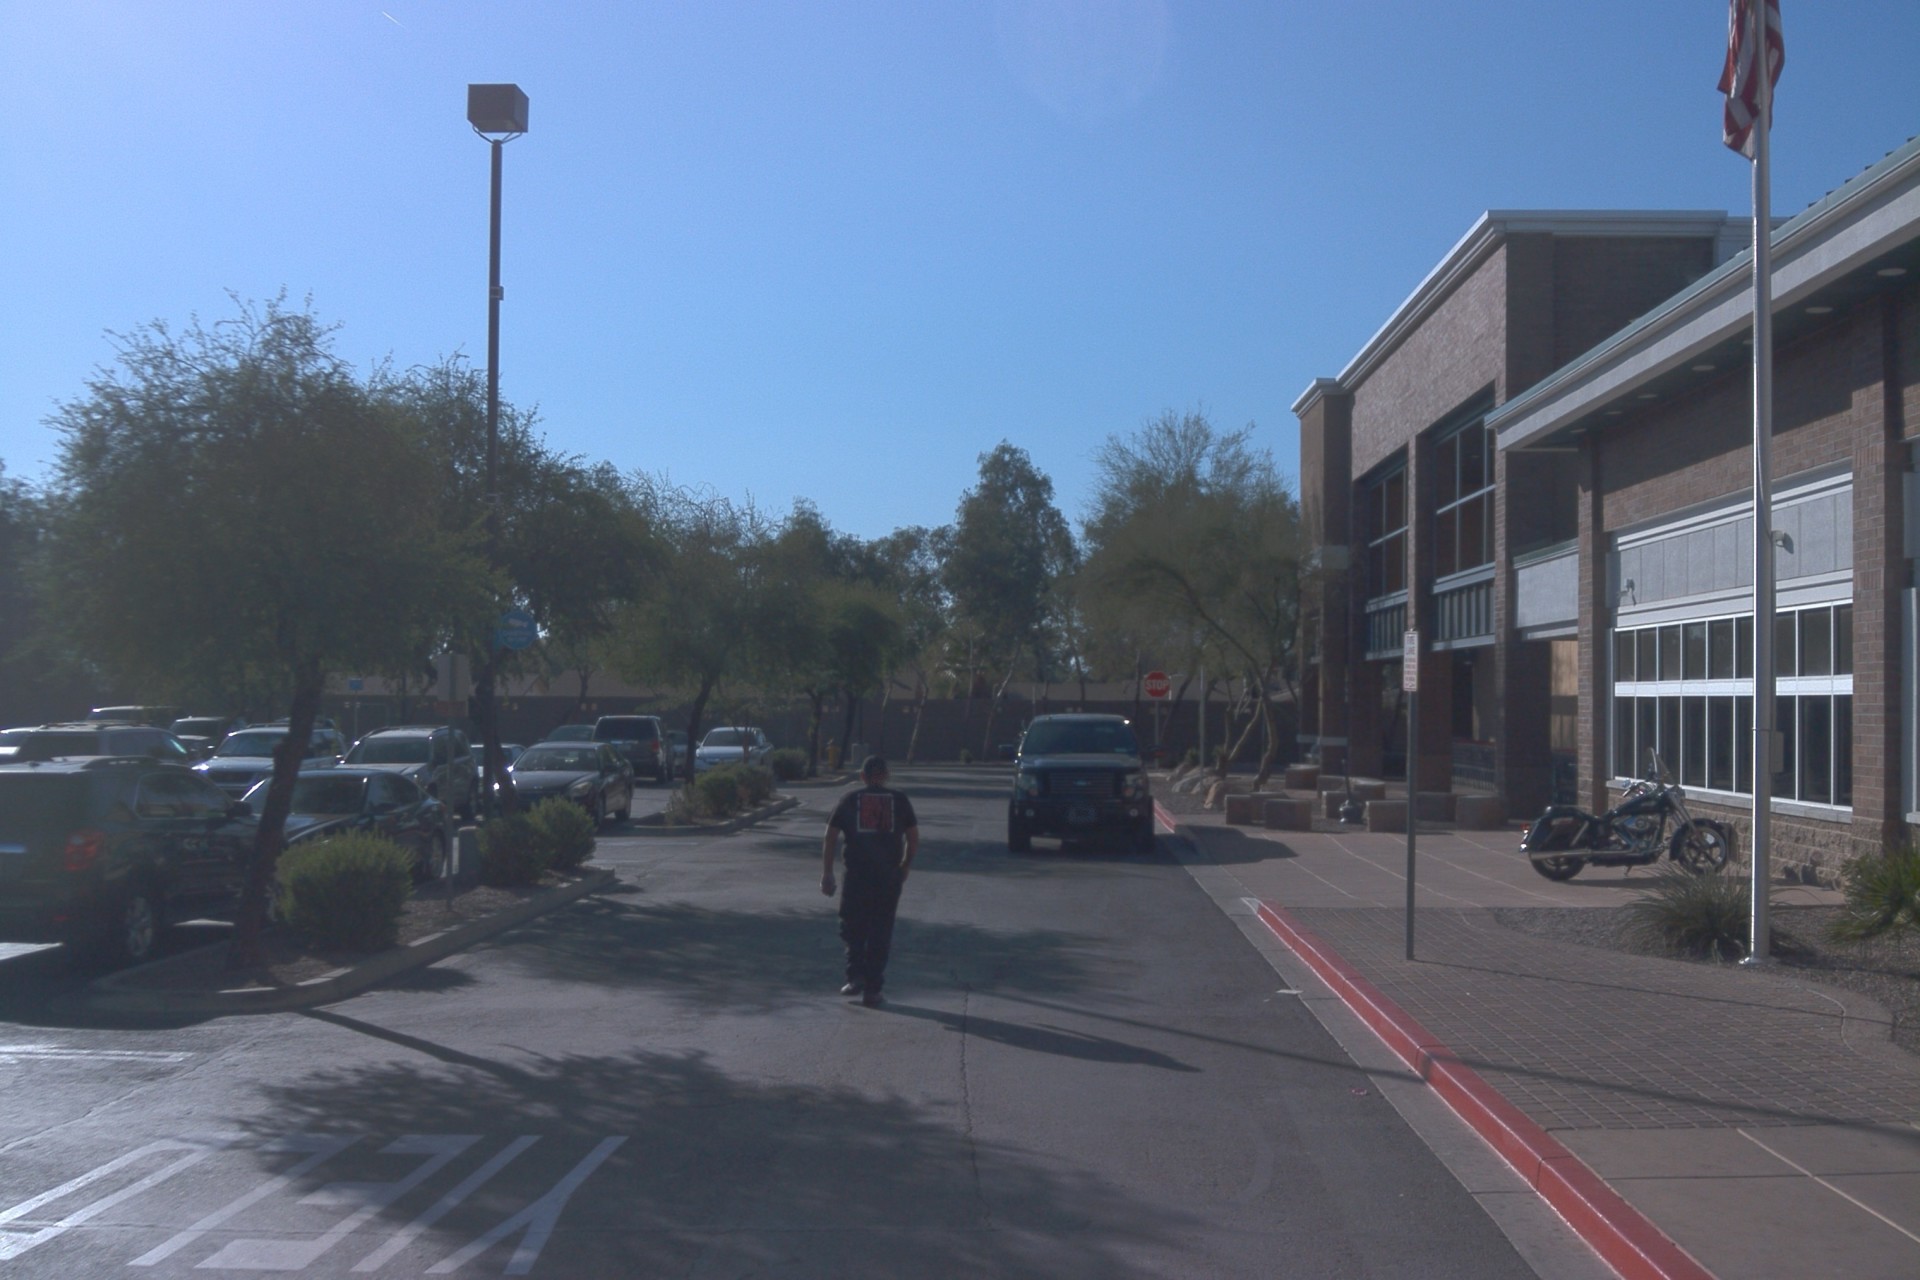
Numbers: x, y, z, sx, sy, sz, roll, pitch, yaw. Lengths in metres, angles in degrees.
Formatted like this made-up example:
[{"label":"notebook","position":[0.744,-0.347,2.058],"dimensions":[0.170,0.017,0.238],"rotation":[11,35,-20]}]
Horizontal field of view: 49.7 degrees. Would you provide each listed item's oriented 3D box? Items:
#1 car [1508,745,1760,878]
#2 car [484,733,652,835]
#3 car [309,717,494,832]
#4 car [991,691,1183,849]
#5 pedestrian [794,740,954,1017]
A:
[{"label":"car","position":[7.577,1.928,23.449],"dimensions":[2.509,1.430,1.043],"rotation":[-1,-1,5]},{"label":"car","position":[-6.800,2.474,36.483],"dimensions":[1.931,1.560,4.779],"rotation":[-1,-1,2]},{"label":"car","position":[-9.730,2.313,36.521],"dimensions":[1.886,1.820,4.571],"rotation":[-1,-1,2]},{"label":"car","position":[1.876,1.886,31.789],"dimensions":[2.655,2.190,5.664],"rotation":[-1,-1,2]},{"label":"pedestrian","position":[-0.637,1.672,14.928],"dimensions":[1.075,1.870,1.184],"rotation":[0,-1,-5]}]
